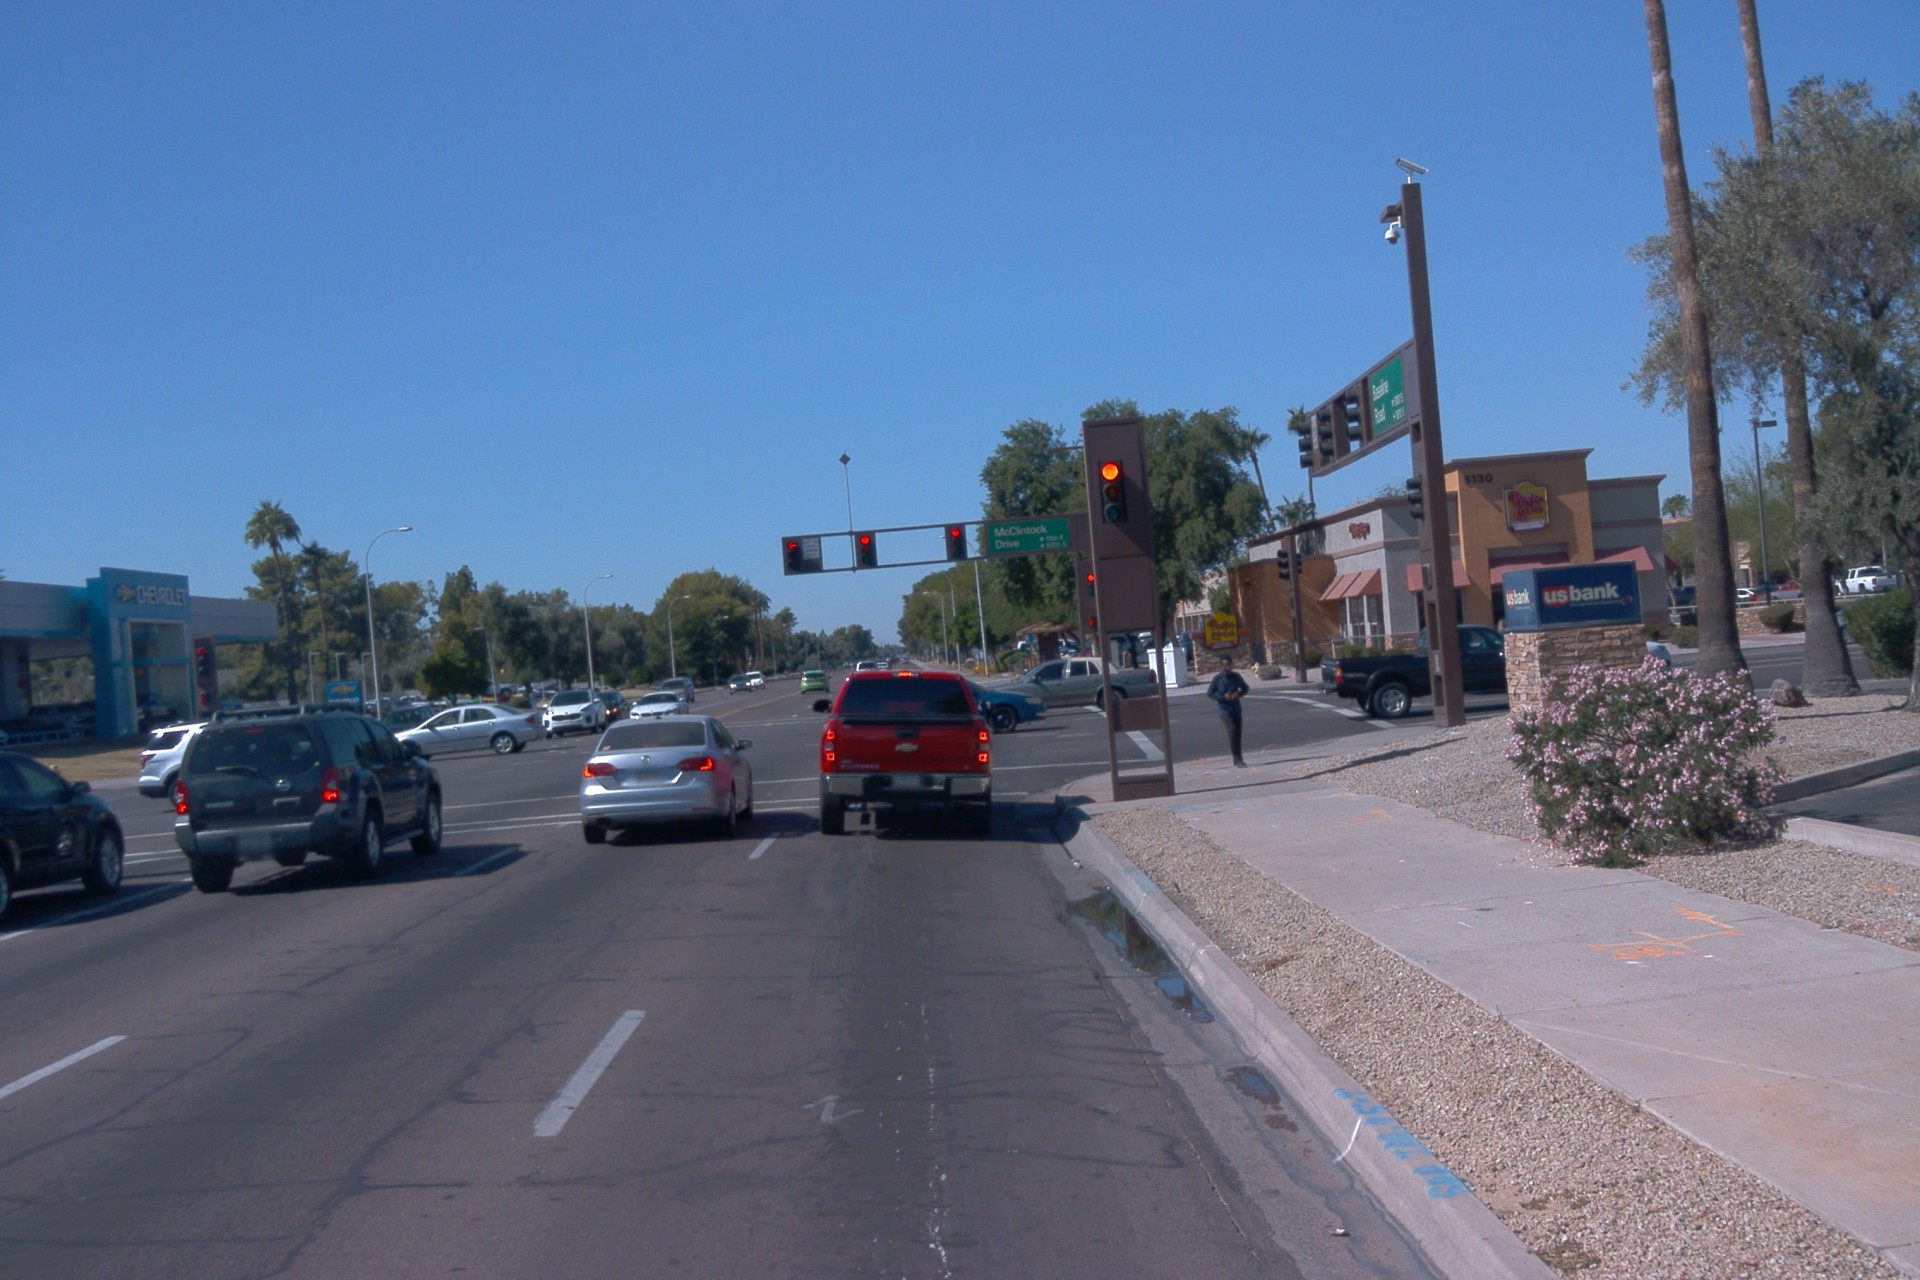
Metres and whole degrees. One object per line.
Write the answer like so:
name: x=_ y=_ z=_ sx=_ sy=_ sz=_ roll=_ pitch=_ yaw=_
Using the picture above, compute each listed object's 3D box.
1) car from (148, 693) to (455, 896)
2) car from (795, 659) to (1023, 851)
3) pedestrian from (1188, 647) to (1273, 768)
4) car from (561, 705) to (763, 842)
car: x=-7.074 y=1.594 z=22.905 sx=1.998 sy=1.951 sz=4.415 roll=1 pitch=-1 yaw=-1
car: x=-0.662 y=1.330 z=26.205 sx=2.538 sy=2.120 sz=5.758 roll=1 pitch=-1 yaw=-2
pedestrian: x=3.911 y=0.975 z=30.179 sx=0.807 sy=1.714 sz=1.172 roll=1 pitch=-1 yaw=-16
car: x=-3.555 y=1.573 z=25.599 sx=1.920 sy=1.450 sz=4.335 roll=1 pitch=-1 yaw=-1
